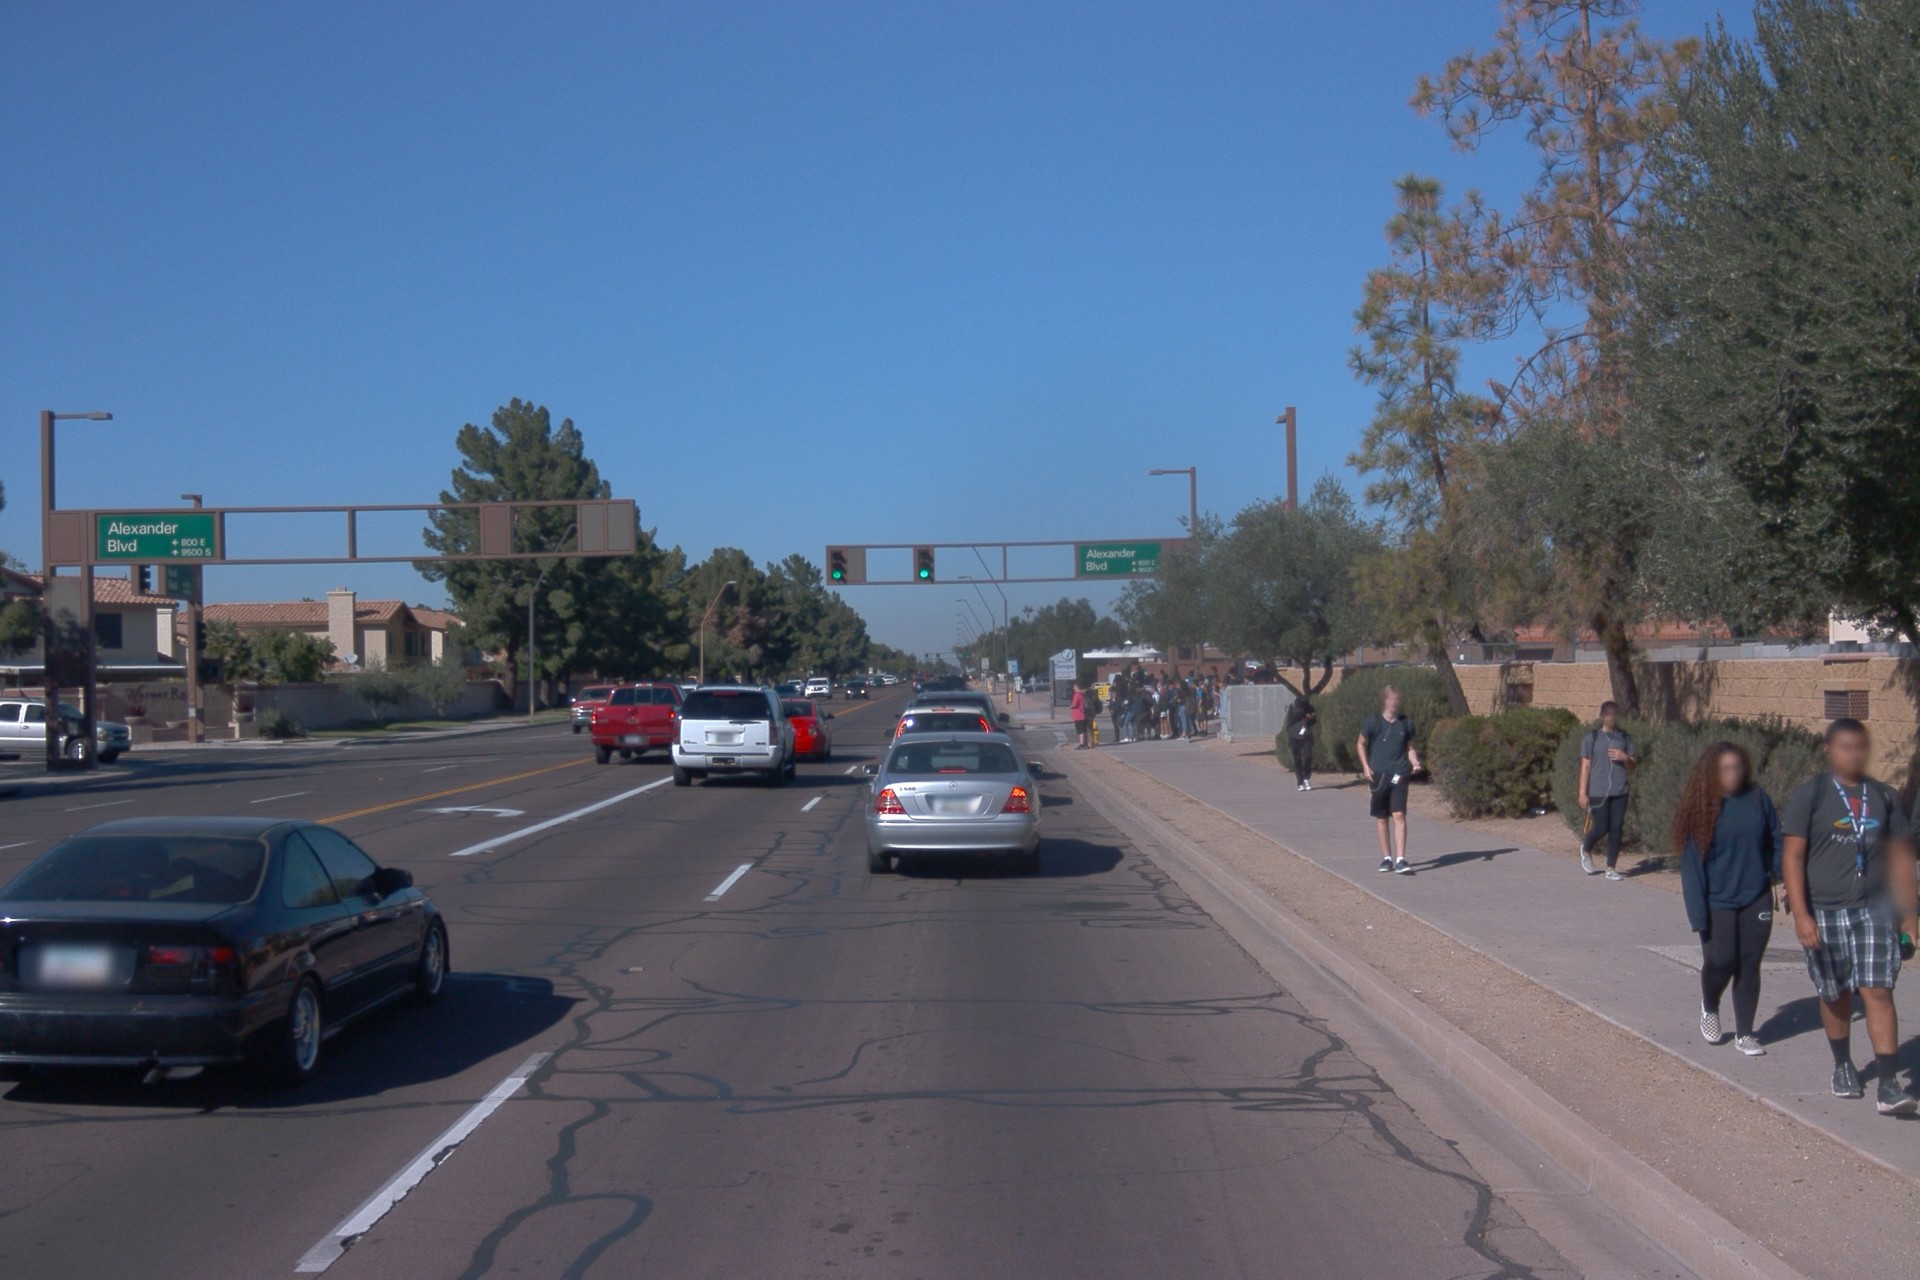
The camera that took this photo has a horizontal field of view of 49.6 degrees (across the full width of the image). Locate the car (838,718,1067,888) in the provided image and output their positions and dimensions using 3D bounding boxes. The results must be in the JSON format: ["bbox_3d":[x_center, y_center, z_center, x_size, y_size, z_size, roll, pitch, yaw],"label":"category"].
[{"bbox_3d":[-0.055,1.703,22.946,2.265,1.600,4.514,0,-1,1],"label":"car"}]

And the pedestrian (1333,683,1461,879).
[{"bbox_3d":[4.211,1.333,20.141,1.042,1.840,1.161,0,-1,3],"label":"pedestrian"}]

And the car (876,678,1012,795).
[{"bbox_3d":[-0.201,1.505,33.734,2.056,1.760,4.487,0,-1,1],"label":"car"}]

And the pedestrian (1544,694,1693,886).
[{"bbox_3d":[5.952,1.338,18.850,1.000,1.680,1.000,0,-1,-3],"label":"pedestrian"}]

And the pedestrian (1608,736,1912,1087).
[{"bbox_3d":[3.984,1.315,10.460,1.042,1.630,1.162,0,-1,-3],"label":"pedestrian"}]

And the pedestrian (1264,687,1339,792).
[{"bbox_3d":[5.446,1.575,33.222,1.000,1.650,1.000,0,-1,-3],"label":"pedestrian"}]
